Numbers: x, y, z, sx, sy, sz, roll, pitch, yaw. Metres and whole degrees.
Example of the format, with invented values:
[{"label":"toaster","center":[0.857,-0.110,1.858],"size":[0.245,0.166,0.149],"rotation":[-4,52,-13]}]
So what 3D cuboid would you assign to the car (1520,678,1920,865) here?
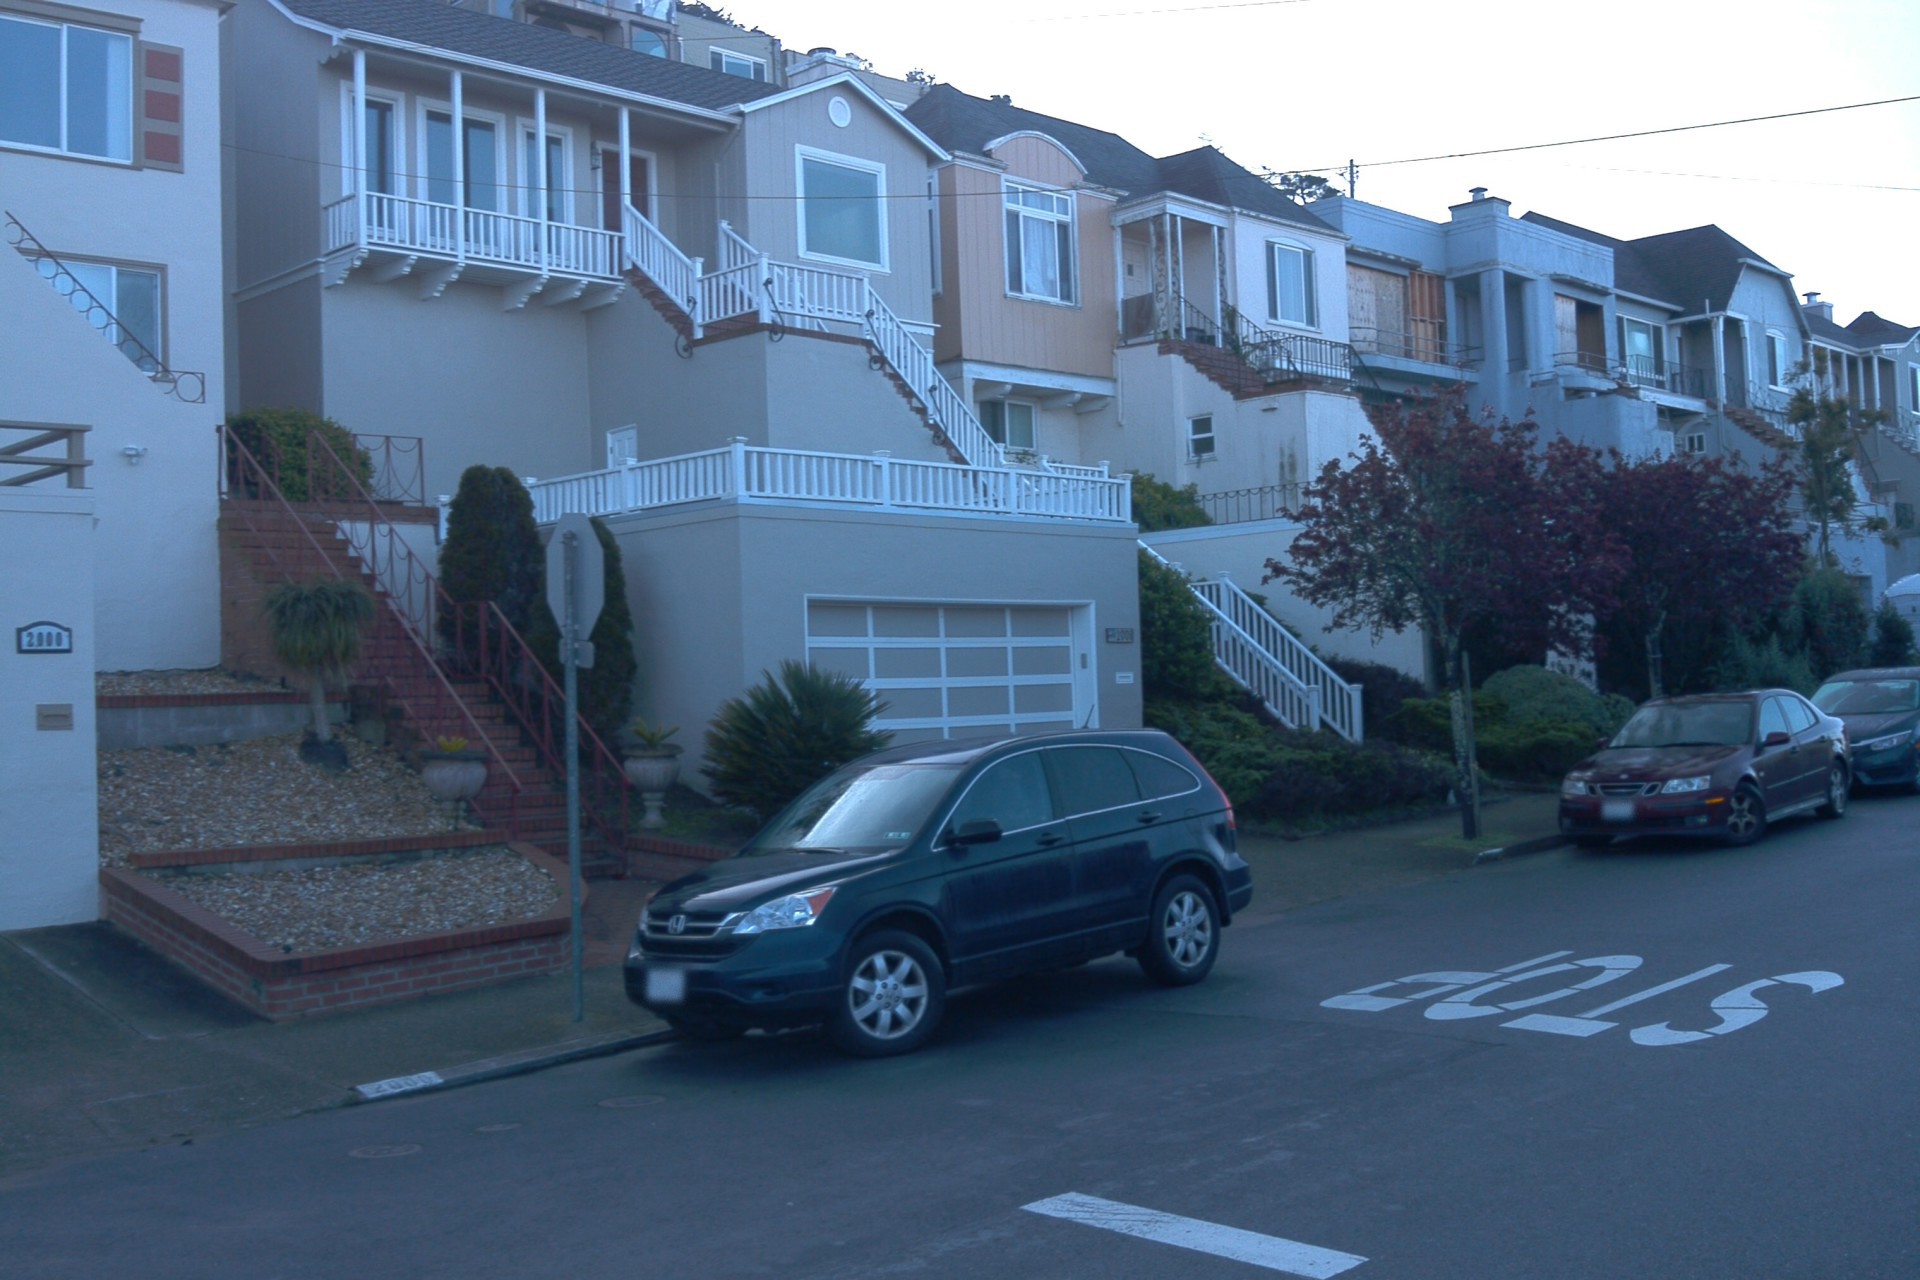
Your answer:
[{"label":"car","center":[7.728,1.203,20.669],"size":[2.140,1.560,4.821],"rotation":[0,0,42]}]

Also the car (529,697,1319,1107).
[{"label":"car","center":[-0.043,1.371,12.722],"size":[2.196,1.910,4.704],"rotation":[0,0,44]}]
